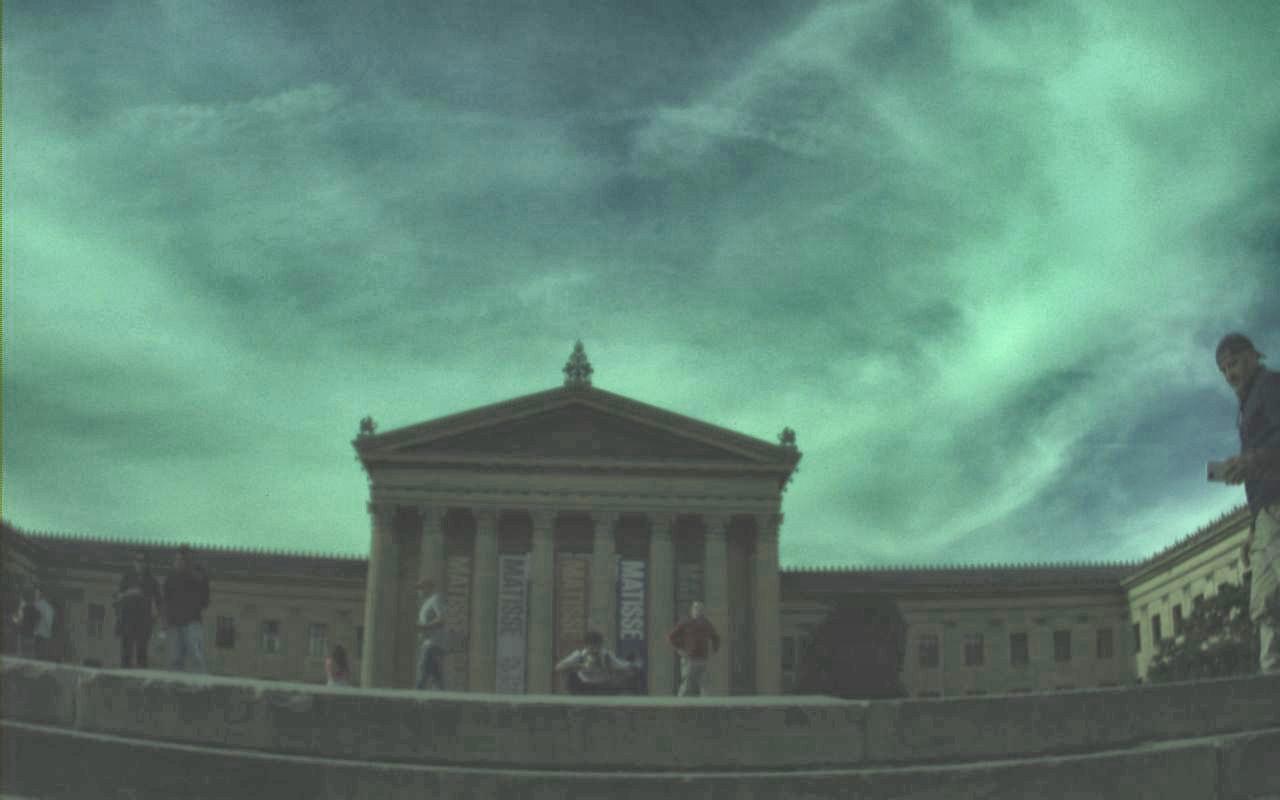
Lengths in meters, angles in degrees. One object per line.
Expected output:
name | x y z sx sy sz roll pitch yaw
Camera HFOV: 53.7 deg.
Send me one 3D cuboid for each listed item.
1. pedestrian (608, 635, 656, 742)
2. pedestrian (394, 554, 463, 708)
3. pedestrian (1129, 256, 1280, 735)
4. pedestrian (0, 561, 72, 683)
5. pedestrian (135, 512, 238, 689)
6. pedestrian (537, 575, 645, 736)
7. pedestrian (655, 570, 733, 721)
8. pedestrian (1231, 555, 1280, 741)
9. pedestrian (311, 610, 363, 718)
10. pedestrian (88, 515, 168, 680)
pedestrian | -0.151 5.025 21.381 0.801 1.756 0.804 0 0 -2
pedestrian | -2.674 2.930 15.508 0.814 1.847 0.784 0 0 -7
pedestrian | 2.518 0.374 4.582 0.811 1.785 0.868 0 0 4
pedestrian | -9.646 3.566 17.527 0.831 1.757 0.832 1 0 21
pedestrian | -4.794 2.115 12.352 0.768 1.729 0.768 0 0 9
pedestrian | -0.509 2.657 12.922 0.768 1.496 0.849 1 0 34
pedestrian | 0.694 3.220 16.302 0.860 1.859 0.834 0 0 -9
pedestrian | 6.282 2.417 10.553 0.812 1.640 0.858 0 0 2
pedestrian | -5.317 4.647 21.024 0.717 1.781 0.730 0 0 -26
pedestrian | -5.487 2.138 12.316 0.733 1.675 0.731 0 0 -16
